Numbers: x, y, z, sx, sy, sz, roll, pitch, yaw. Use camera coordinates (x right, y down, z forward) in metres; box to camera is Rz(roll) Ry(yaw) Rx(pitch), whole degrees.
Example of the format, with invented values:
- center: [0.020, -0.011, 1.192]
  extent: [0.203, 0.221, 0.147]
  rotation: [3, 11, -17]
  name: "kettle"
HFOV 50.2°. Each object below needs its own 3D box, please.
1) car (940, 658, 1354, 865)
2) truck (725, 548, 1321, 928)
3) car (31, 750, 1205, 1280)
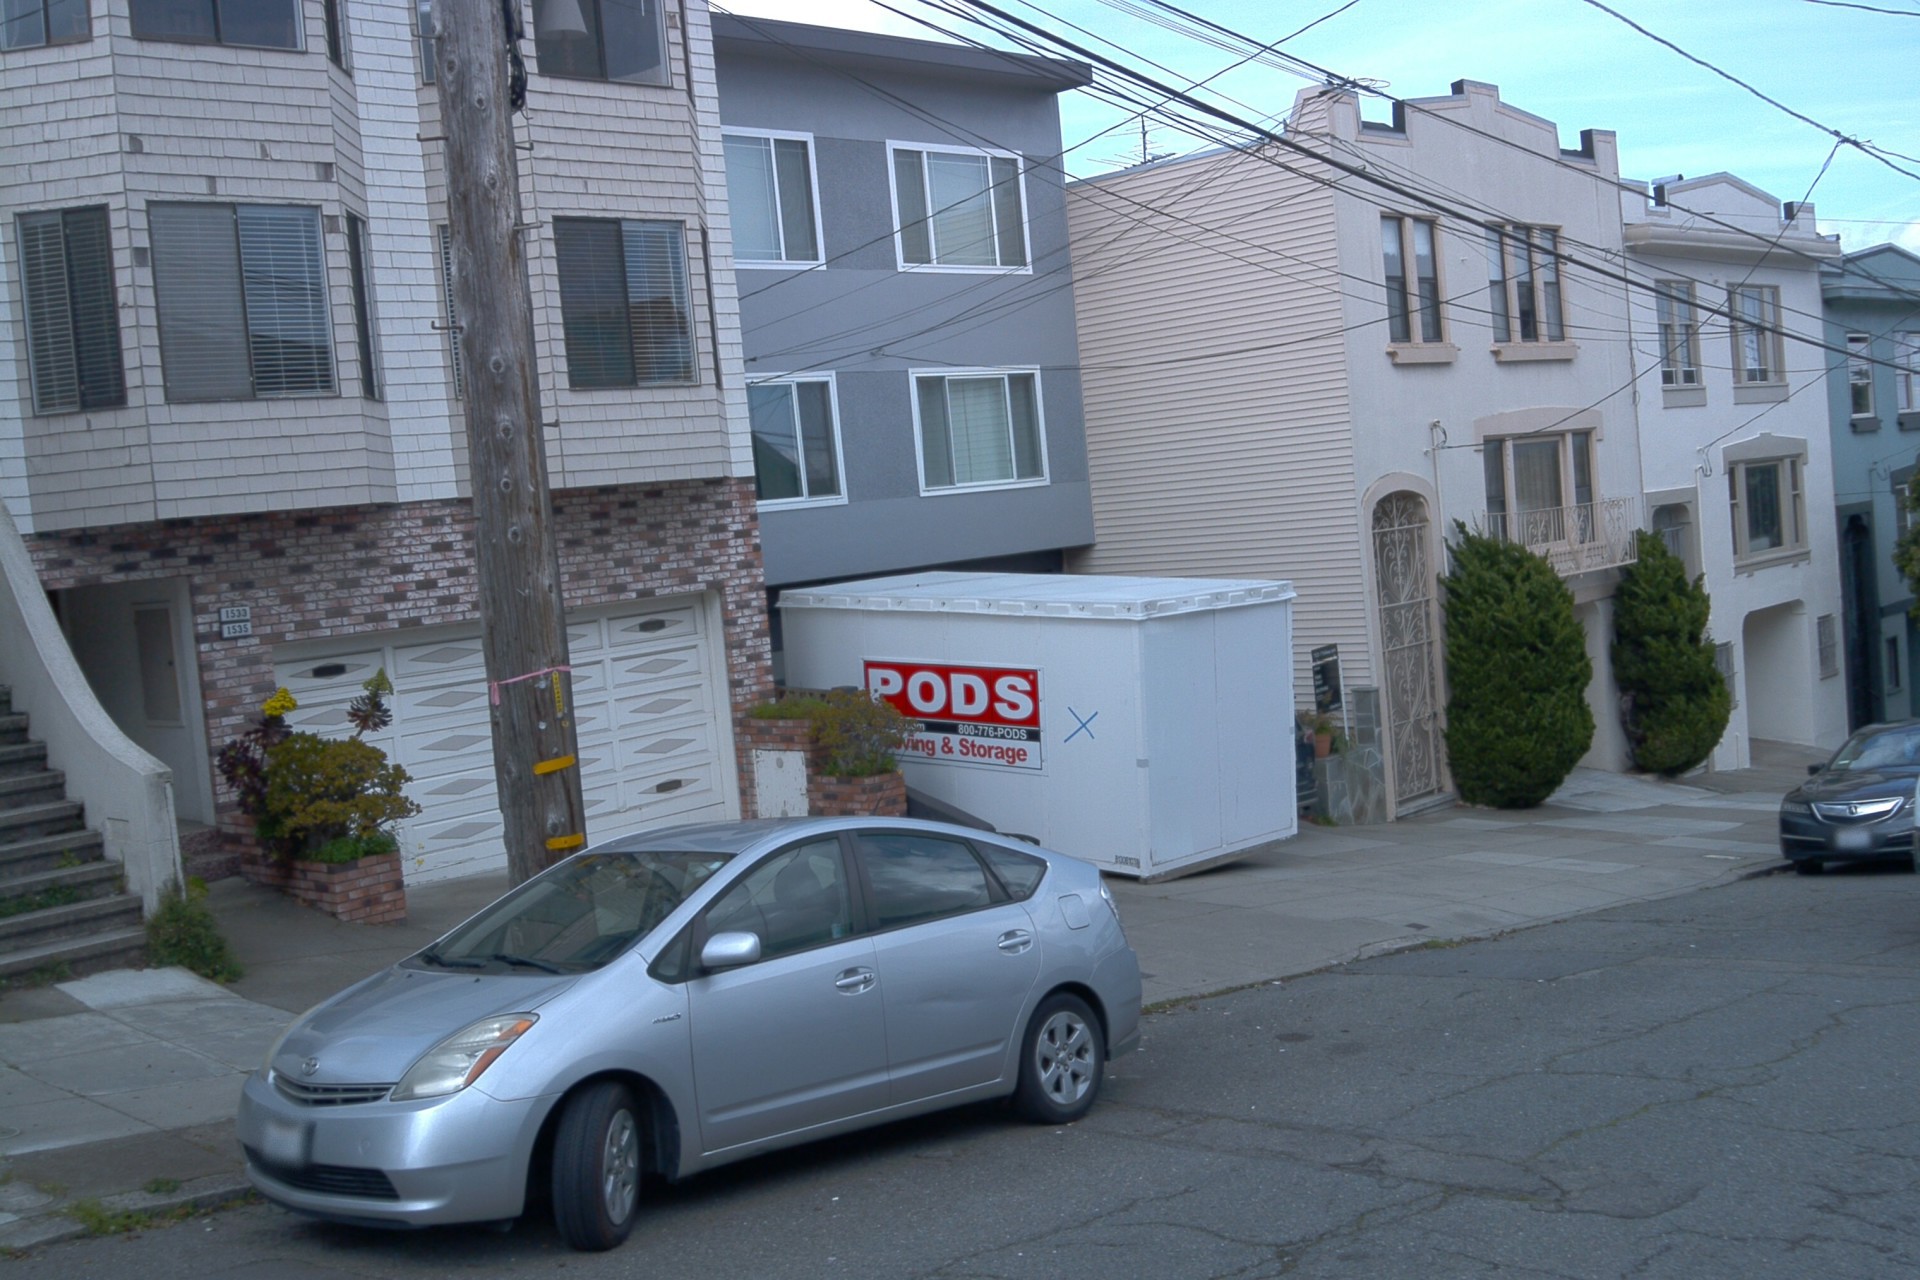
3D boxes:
- center: [2.036, 1.260, 23.141]
  extent: [4.270, 2.000, 2.108]
  rotation: [1, 1, 44]
  name: "car"
- center: [0.489, 0.814, 20.756]
  extent: [5.640, 3.300, 2.780]
  rotation: [1, 1, 45]
  name: "truck"
- center: [-1.201, 1.522, 8.696]
  extent: [2.145, 1.807, 4.513]
  rotation: [1, 1, 44]
  name: "car"
